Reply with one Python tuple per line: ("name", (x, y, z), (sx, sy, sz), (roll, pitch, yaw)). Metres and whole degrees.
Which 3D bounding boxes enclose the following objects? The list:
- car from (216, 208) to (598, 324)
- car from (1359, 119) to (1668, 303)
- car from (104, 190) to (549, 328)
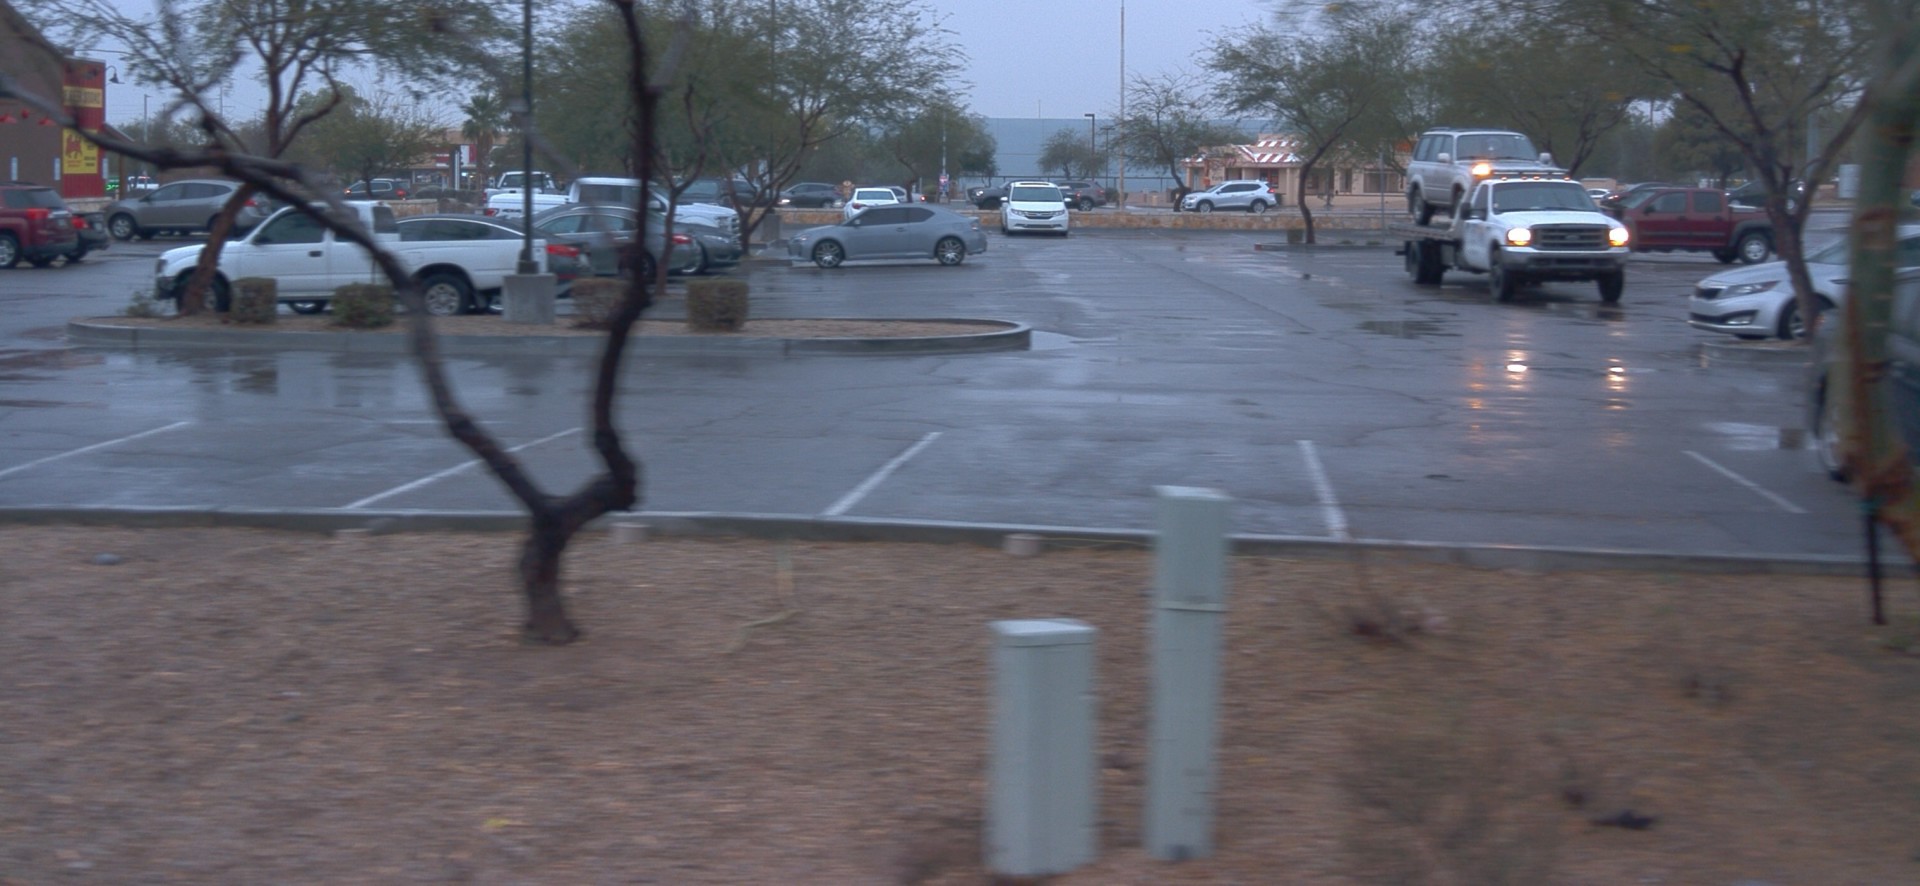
("car", (-7.893, -2.574, 30.050), (4.938, 1.586, 2.150), (0, 4, -1))
("car", (9.414, -4.034, 36.566), (2.854, 2.828, 8.829), (0, 5, -2))
("car", (-8.199, -2.427, 27.312), (5.184, 1.696, 2.140), (0, 4, -2))
